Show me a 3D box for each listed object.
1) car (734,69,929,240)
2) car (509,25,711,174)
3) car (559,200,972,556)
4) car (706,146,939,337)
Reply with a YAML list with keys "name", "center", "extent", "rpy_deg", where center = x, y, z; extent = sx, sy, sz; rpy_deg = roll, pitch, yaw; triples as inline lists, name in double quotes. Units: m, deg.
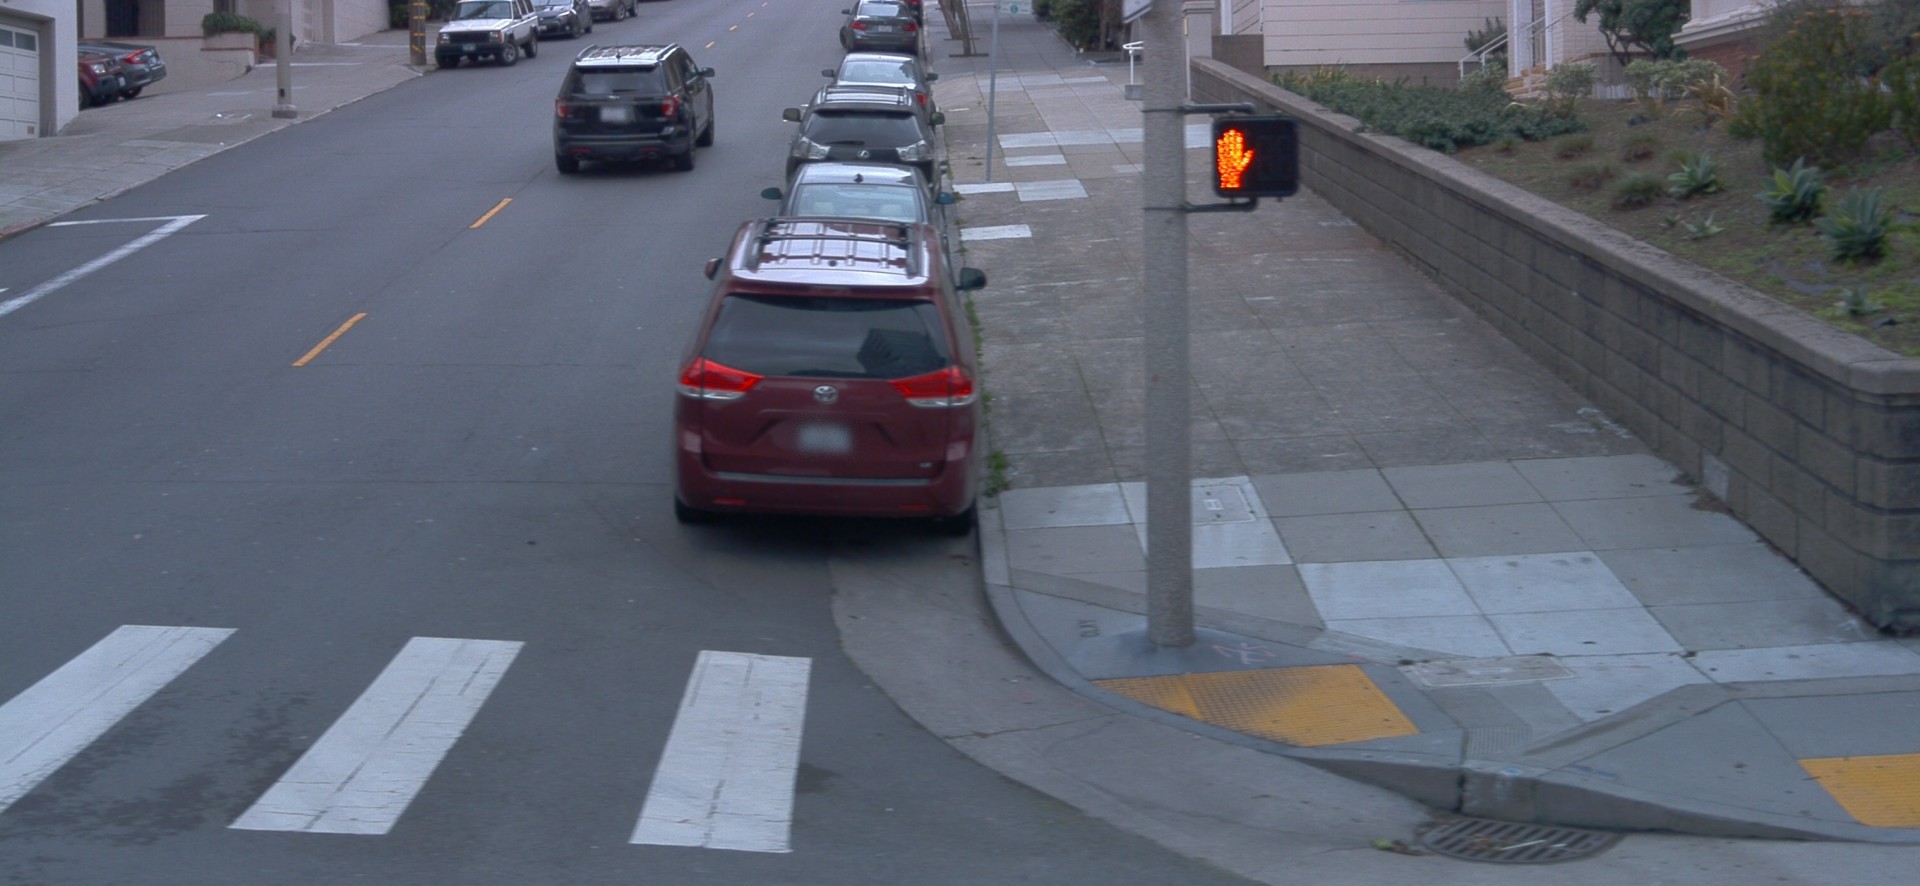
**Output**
- name: "car"
  center: [-1.483, -3.522, 25.498]
  extent: [2.175, 1.899, 4.442]
  rpy_deg: [0, 6, -1]
- name: "car"
  center: [-5.147, -5.079, 31.056]
  extent: [2.302, 2.018, 4.632]
  rpy_deg: [0, 6, -1]
- name: "car"
  center: [-1.176, -0.666, 14.379]
  extent: [2.355, 1.998, 5.060]
  rpy_deg: [0, 6, -1]
- name: "car"
  center: [-1.283, -2.045, 20.434]
  extent: [2.041, 1.670, 4.425]
  rpy_deg: [0, 6, -2]
